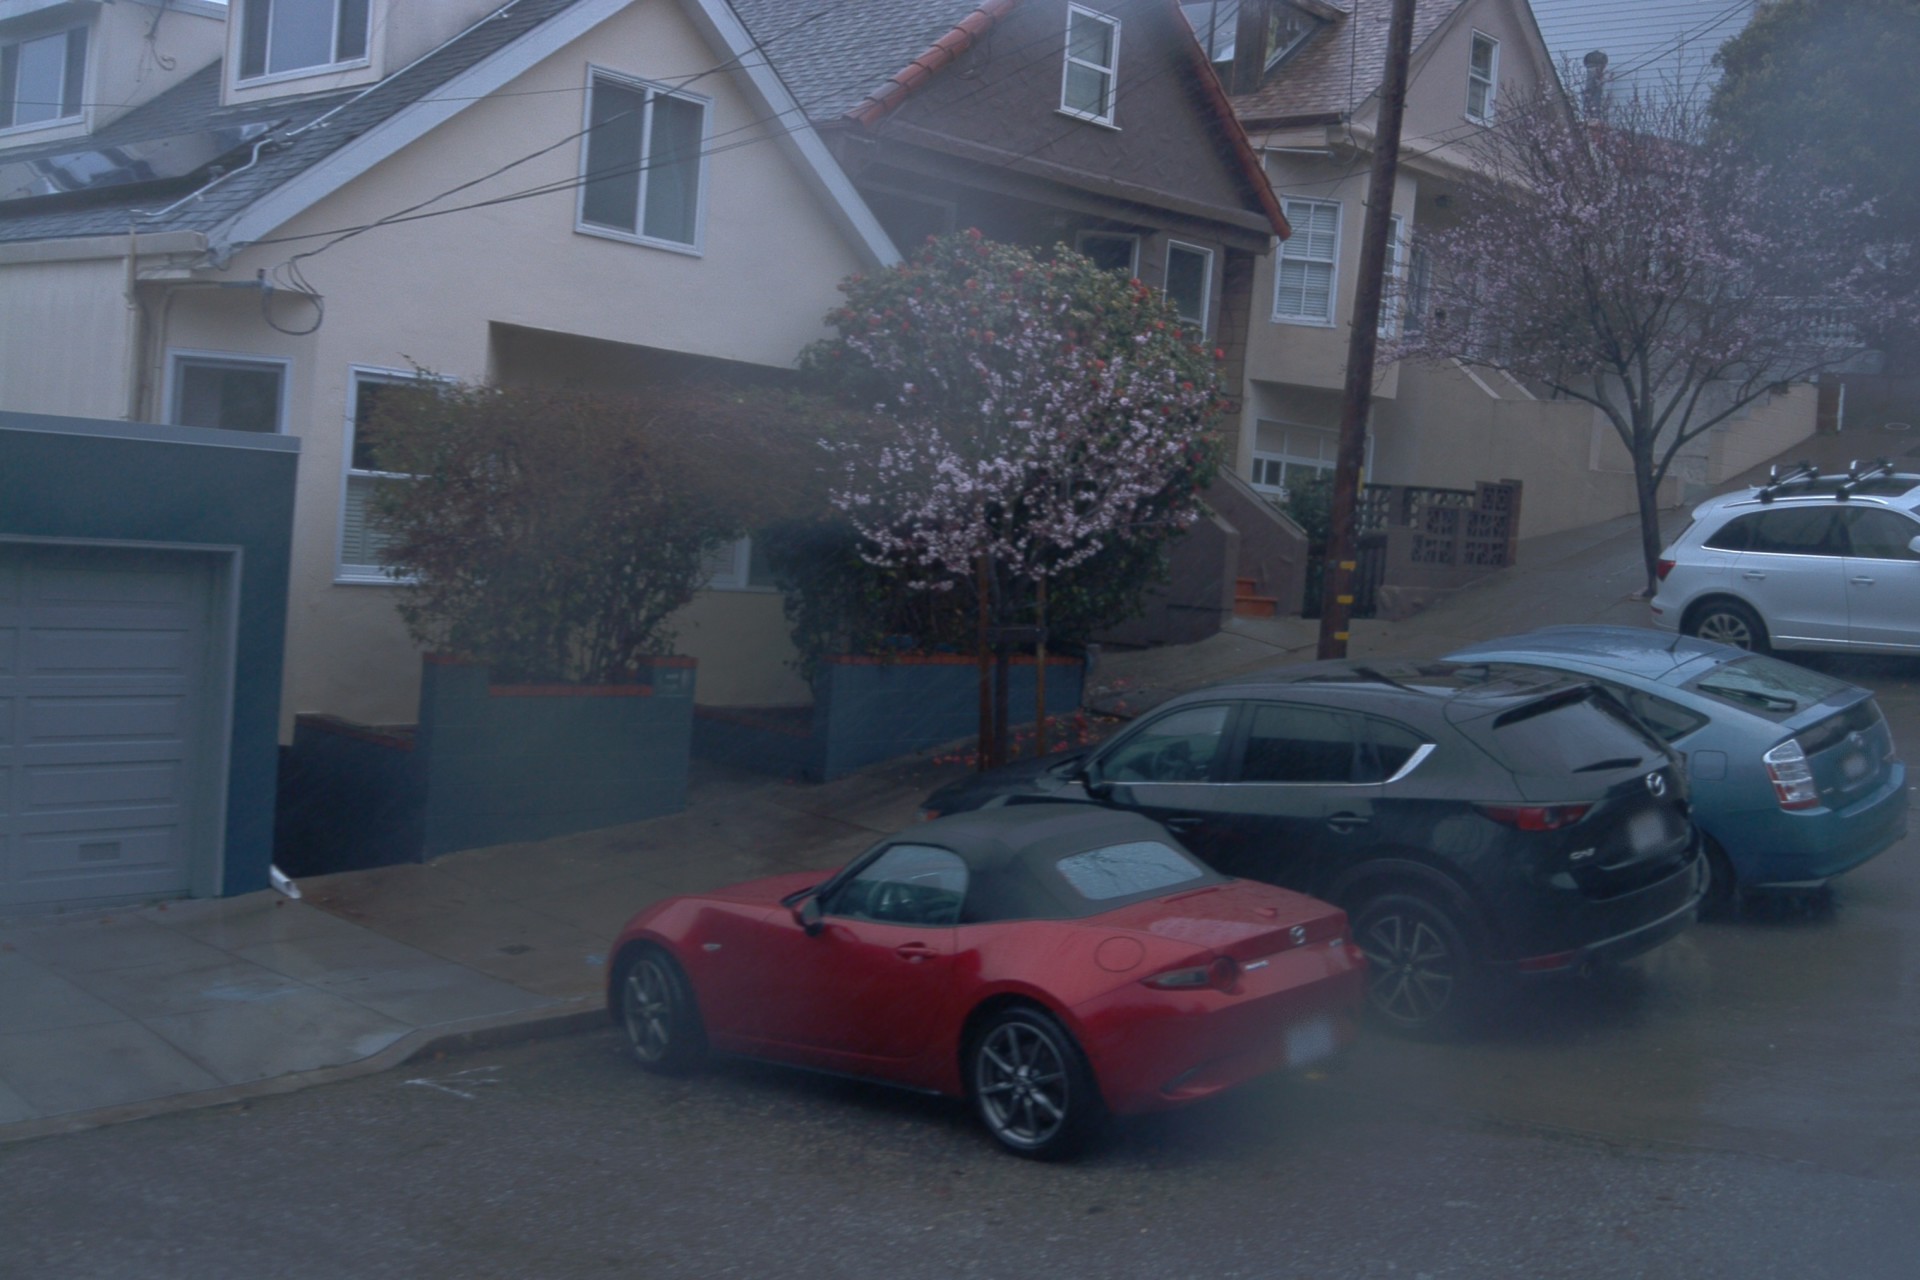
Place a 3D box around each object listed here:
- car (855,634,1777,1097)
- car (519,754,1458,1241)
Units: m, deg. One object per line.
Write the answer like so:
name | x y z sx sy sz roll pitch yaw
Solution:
car | 1.750 0.962 11.119 4.389 1.960 2.181 0 0 43
car | -0.005 1.341 9.139 3.798 1.450 1.946 0 0 43
